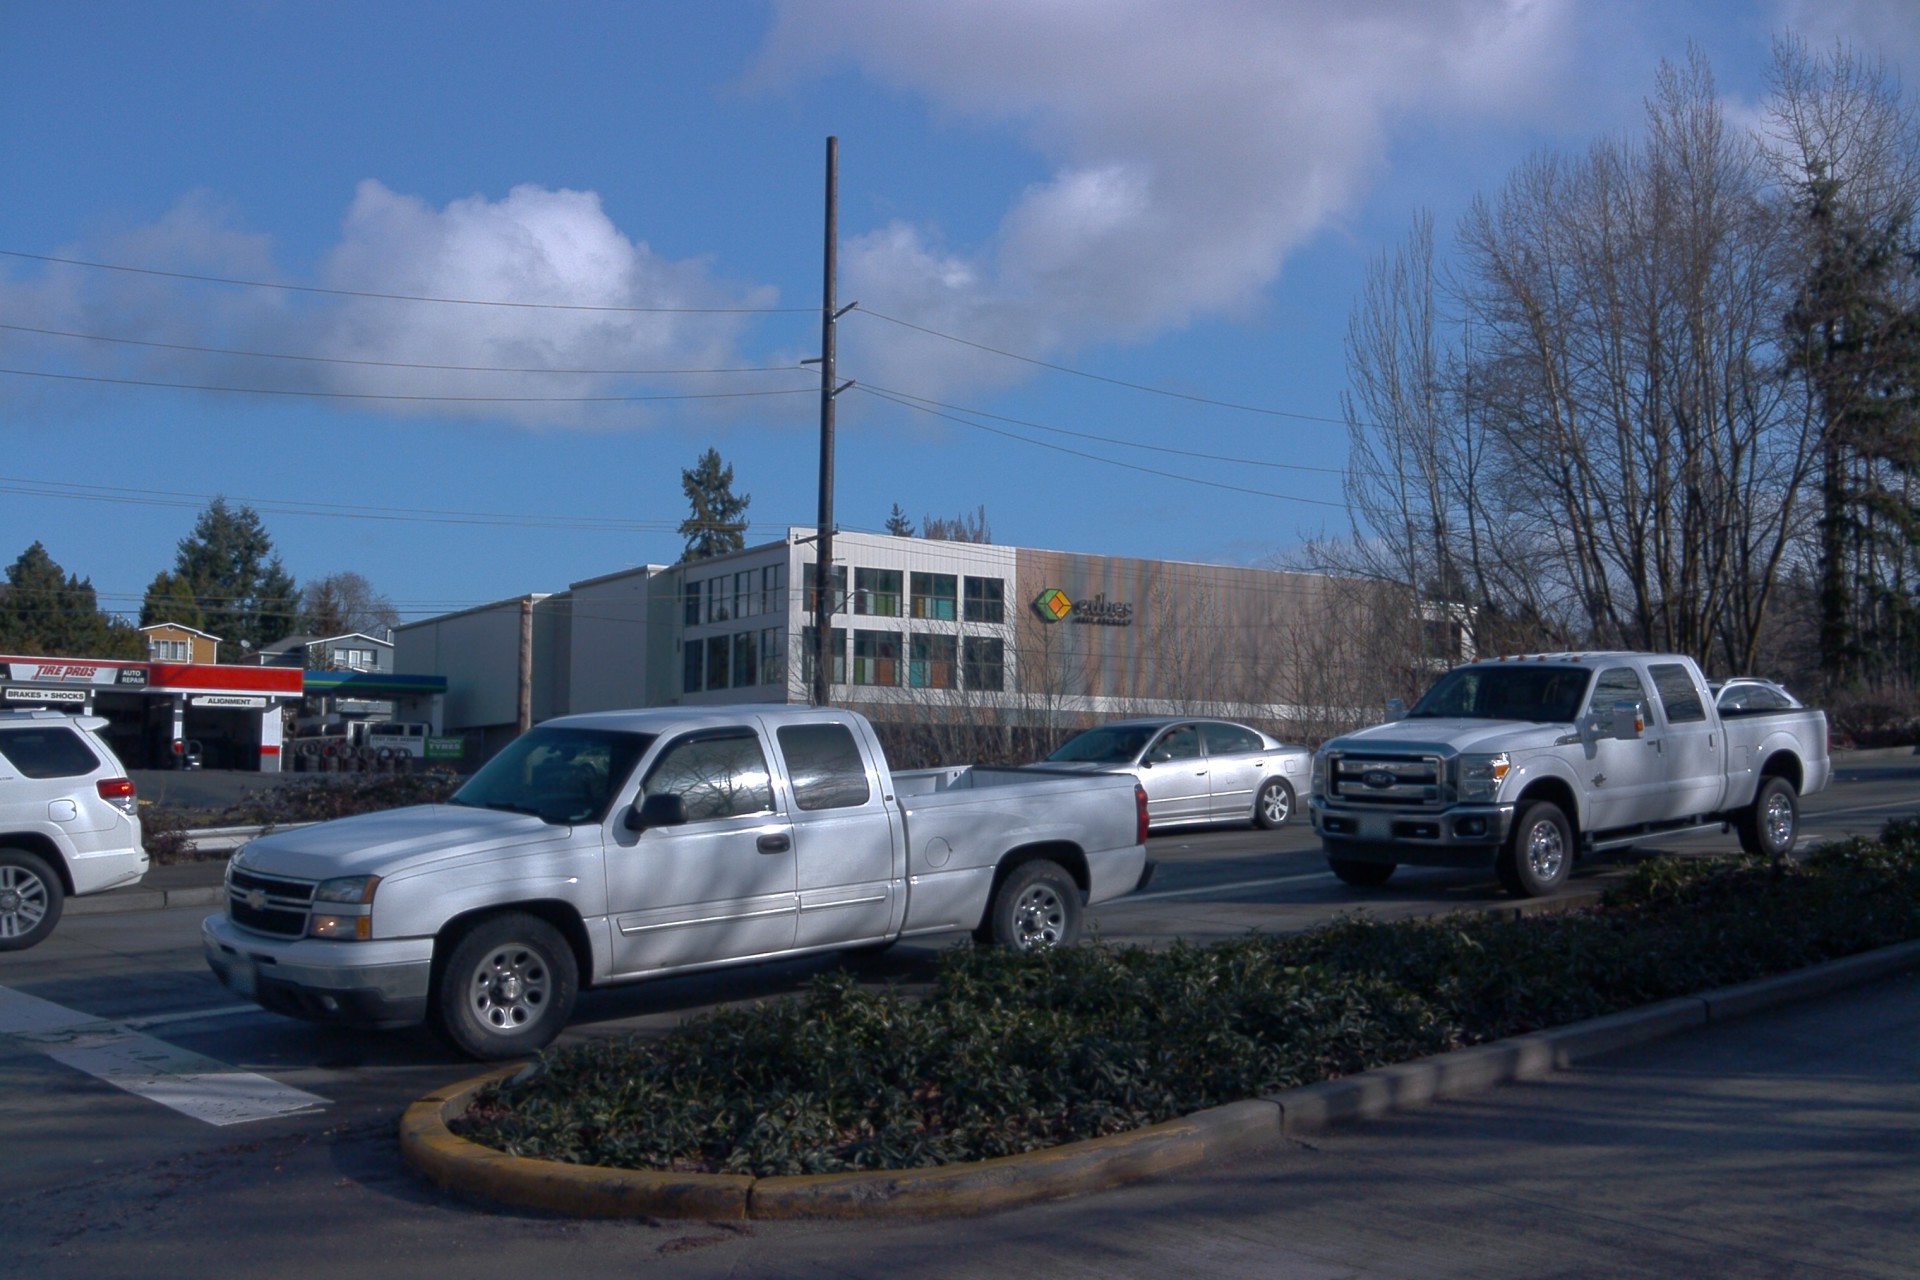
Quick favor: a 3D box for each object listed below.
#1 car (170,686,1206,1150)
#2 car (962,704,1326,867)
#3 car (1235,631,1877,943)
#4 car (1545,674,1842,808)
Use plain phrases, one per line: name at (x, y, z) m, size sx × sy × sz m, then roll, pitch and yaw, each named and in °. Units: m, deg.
car at (-1.400, 1.377, 12.581) m, size 5.921 × 2.000 × 2.378 m, roll -1°, pitch 1°, yaw -41°
car at (2.288, 1.685, 25.120) m, size 4.213 × 1.620 × 2.092 m, roll -1°, pitch 1°, yaw -42°
car at (5.695, 1.127, 19.169) m, size 6.311 × 2.370 × 2.792 m, roll -1°, pitch 1°, yaw -42°
car at (11.651, 1.513, 32.632) m, size 5.015 × 1.820 × 2.160 m, roll -1°, pitch 1°, yaw -40°
